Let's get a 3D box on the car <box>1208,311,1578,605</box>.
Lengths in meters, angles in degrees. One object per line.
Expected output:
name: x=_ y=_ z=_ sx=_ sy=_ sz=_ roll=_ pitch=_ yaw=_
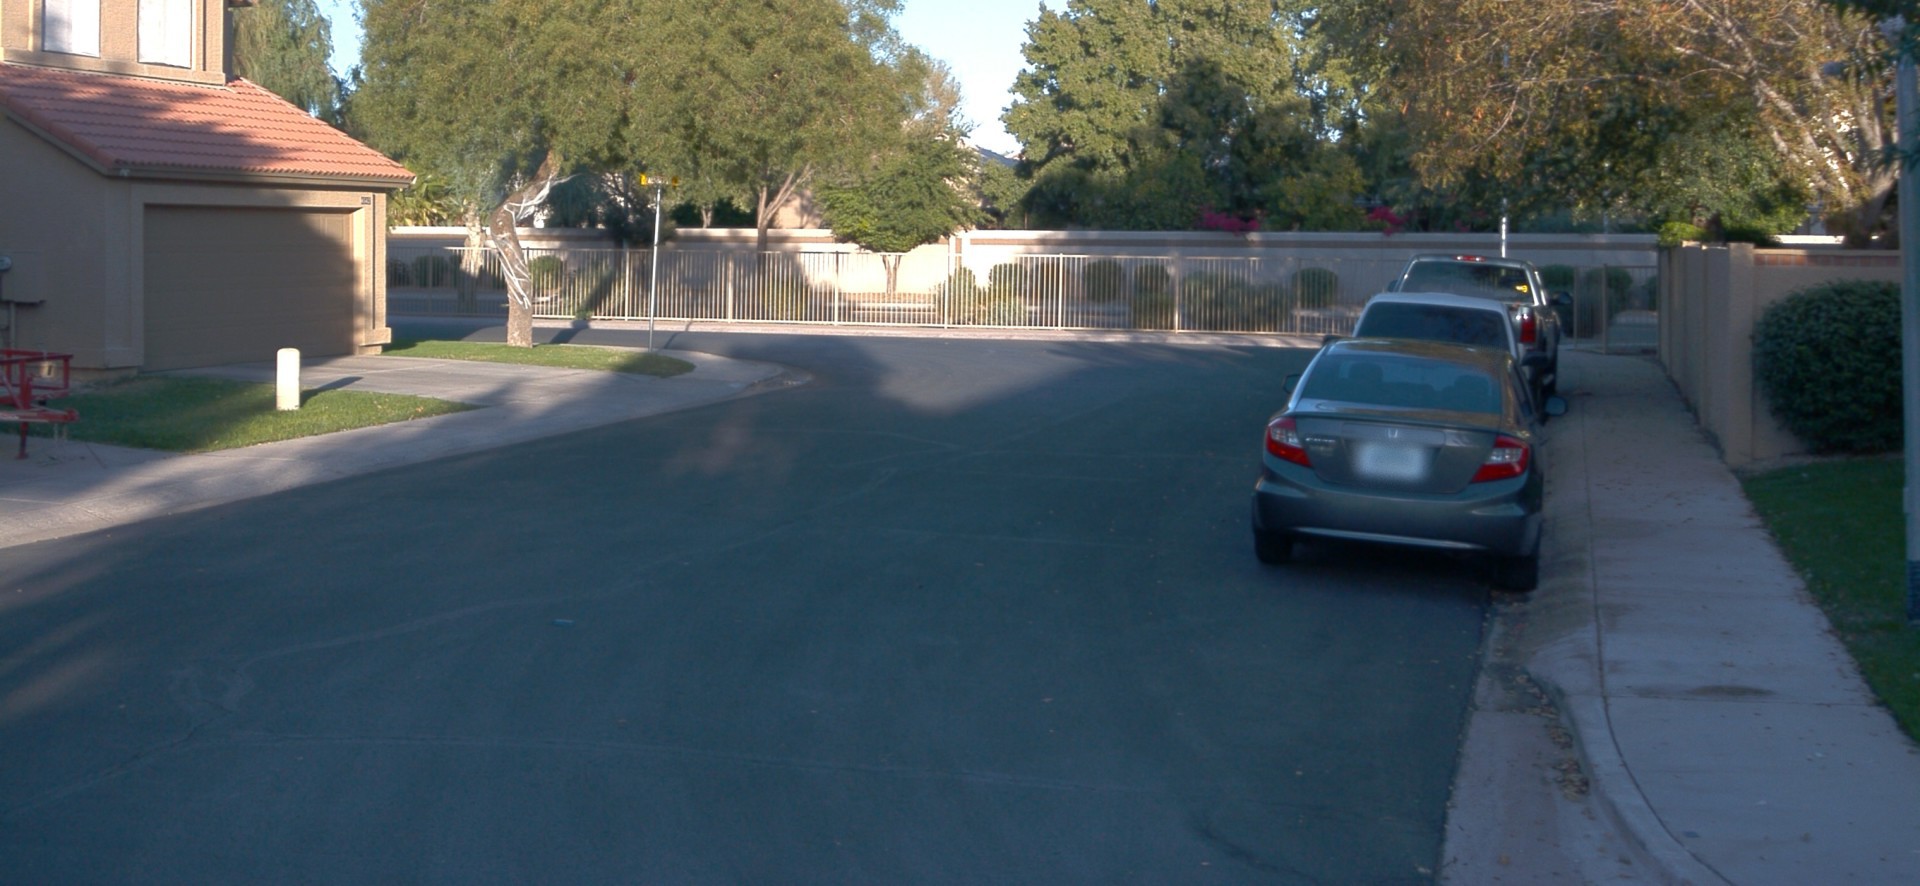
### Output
car: x=3.041 y=-0.068 z=14.032 sx=2.058 sy=1.465 sz=4.474 roll=2 pitch=5 yaw=15

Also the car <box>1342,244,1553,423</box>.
car: x=6.282 y=-1.503 z=26.281 sx=2.172 sy=1.983 sz=5.486 roll=2 pitch=5 yaw=17

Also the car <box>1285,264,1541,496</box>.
car: x=4.311 y=-0.727 z=19.223 sx=2.024 sy=1.794 sz=4.715 roll=2 pitch=5 yaw=15
